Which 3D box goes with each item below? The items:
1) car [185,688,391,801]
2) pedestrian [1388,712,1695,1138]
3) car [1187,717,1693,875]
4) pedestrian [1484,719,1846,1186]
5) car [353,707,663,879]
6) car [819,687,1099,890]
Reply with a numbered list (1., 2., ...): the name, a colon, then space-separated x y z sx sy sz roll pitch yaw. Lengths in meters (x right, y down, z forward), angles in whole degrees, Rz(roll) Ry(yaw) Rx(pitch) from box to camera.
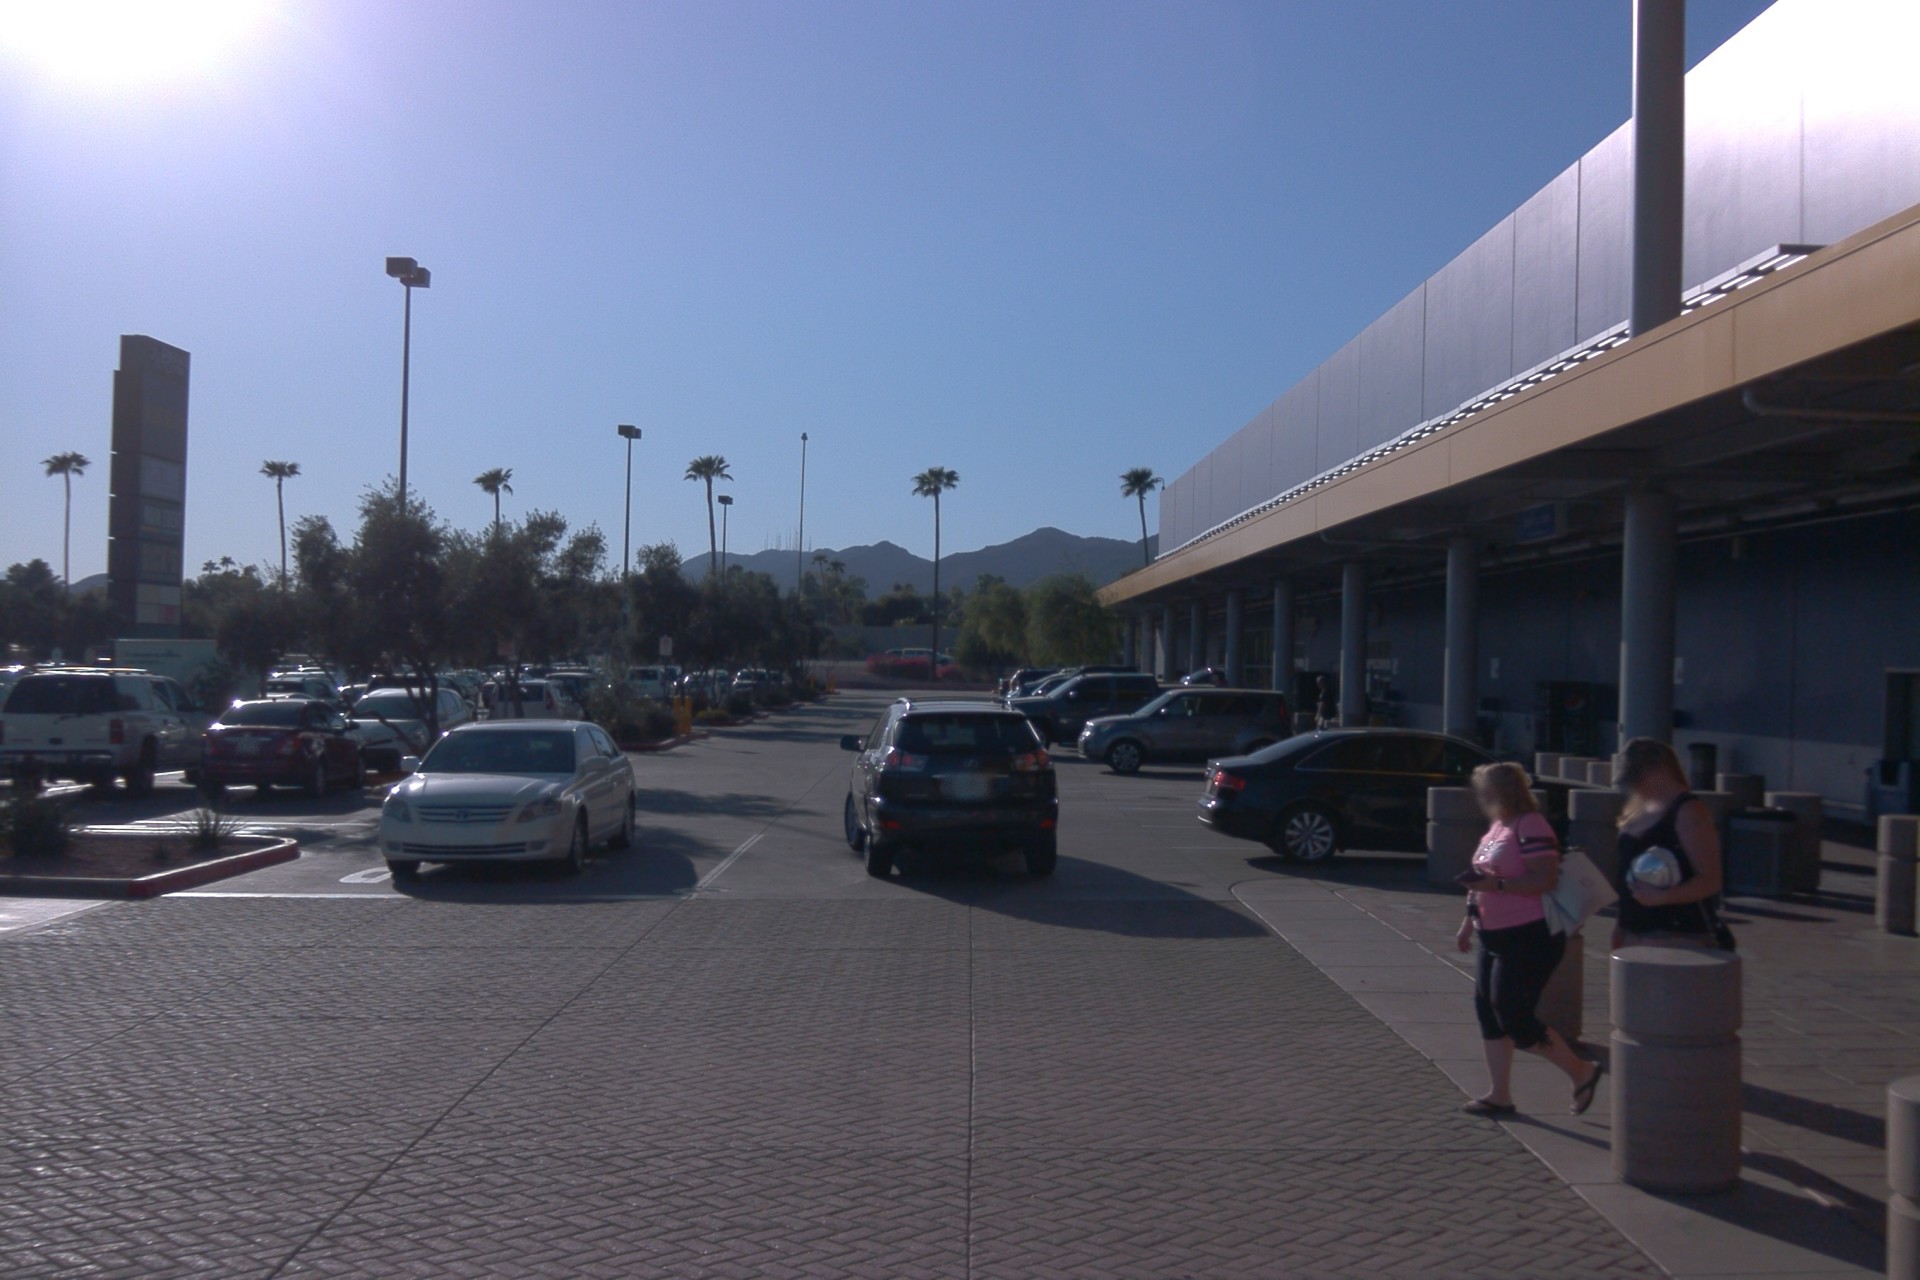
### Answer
1. car: -10.431 1.580 32.633 1.866 1.580 4.286 1 0 0
2. pedestrian: 2.634 1.250 9.539 1.000 1.810 1.000 1 0 -9
3. car: 4.902 1.598 21.797 4.792 1.460 2.078 1 0 0
4. pedestrian: 2.953 1.270 8.823 1.138 1.830 0.949 1 0 -6
5. car: -4.483 1.474 21.504 2.148 1.440 4.950 1 -1 0
6. car: -0.149 1.411 21.235 2.200 1.770 4.574 1 0 -8
